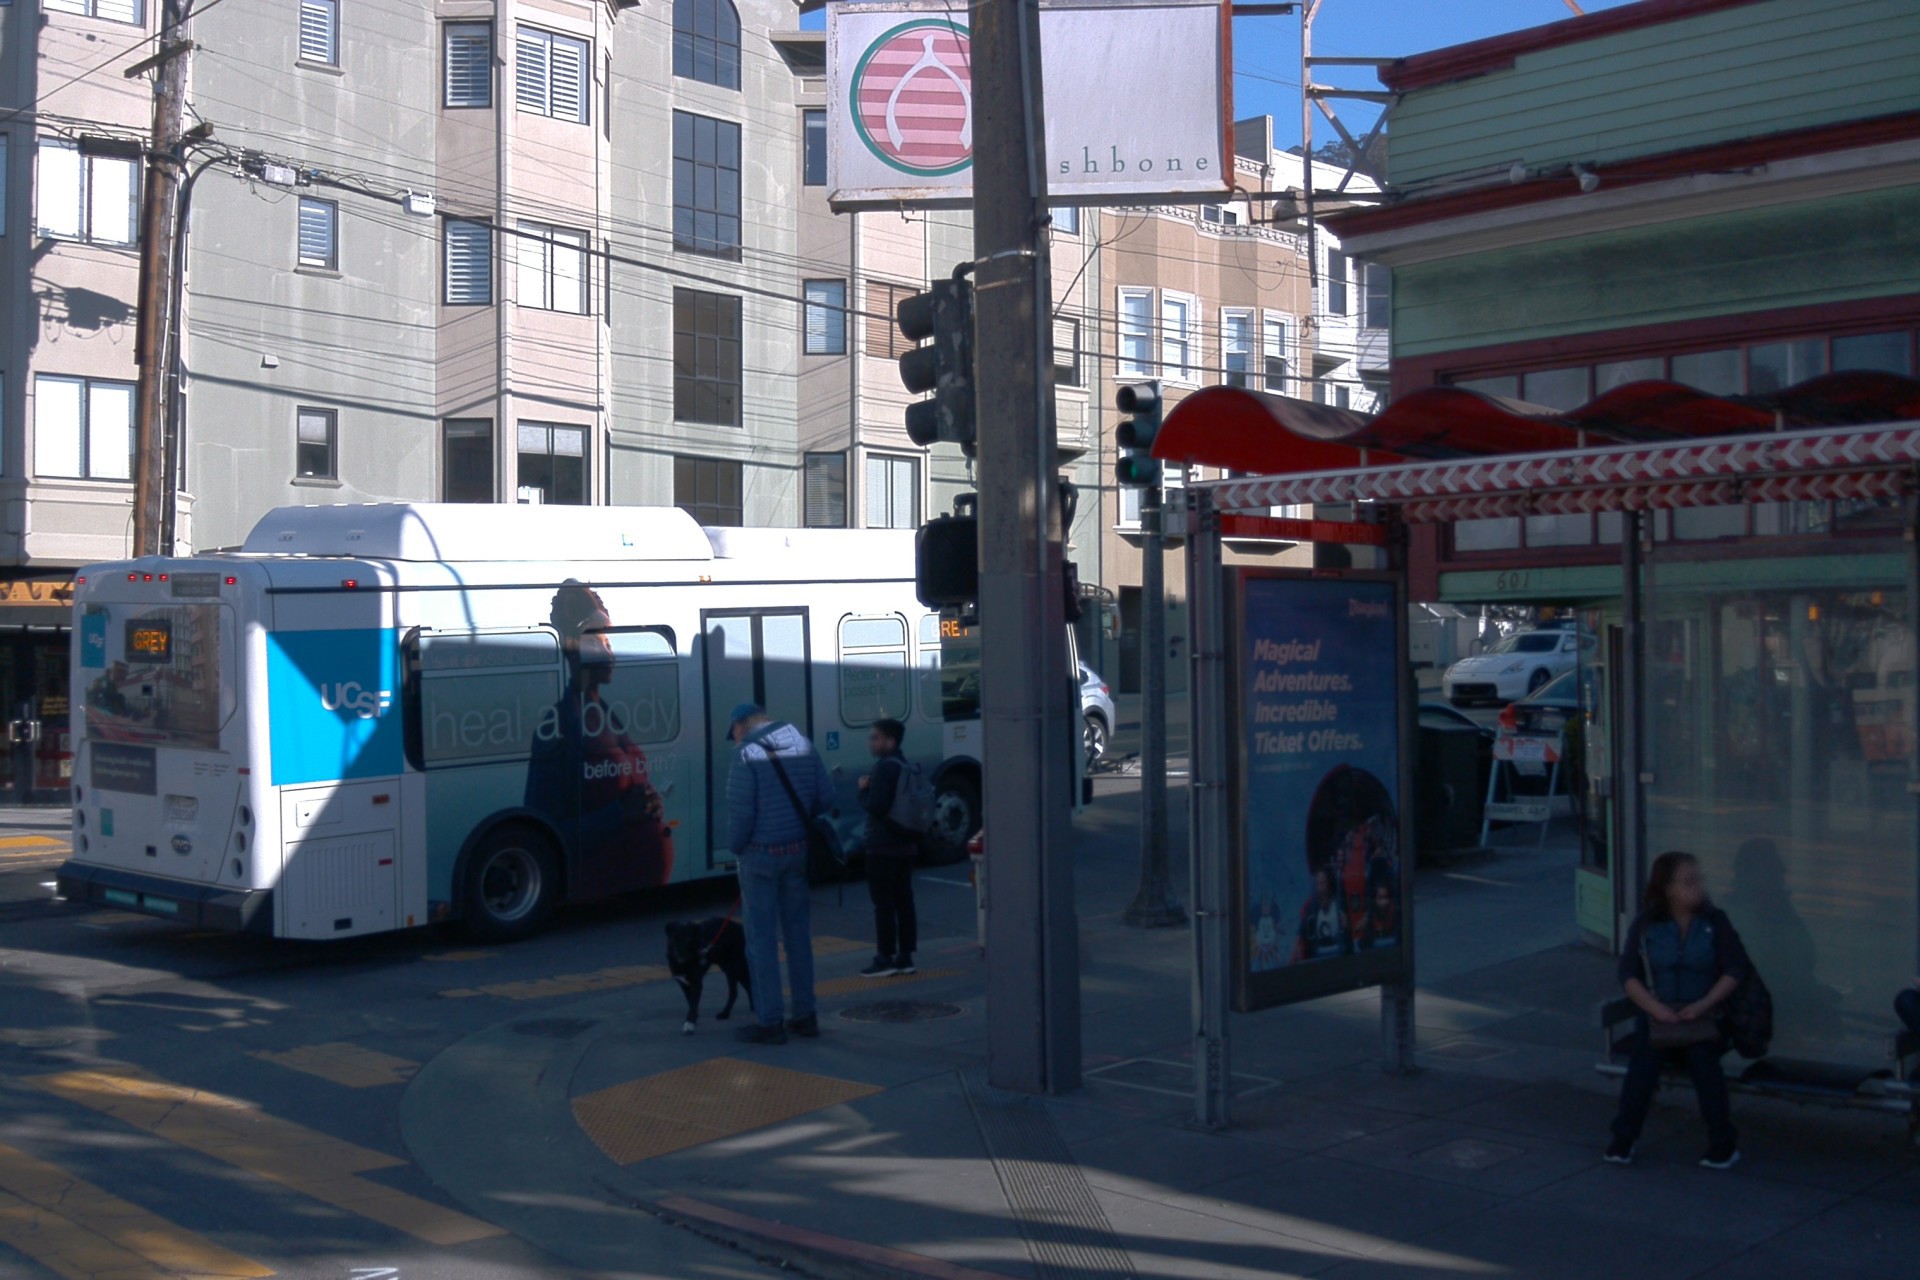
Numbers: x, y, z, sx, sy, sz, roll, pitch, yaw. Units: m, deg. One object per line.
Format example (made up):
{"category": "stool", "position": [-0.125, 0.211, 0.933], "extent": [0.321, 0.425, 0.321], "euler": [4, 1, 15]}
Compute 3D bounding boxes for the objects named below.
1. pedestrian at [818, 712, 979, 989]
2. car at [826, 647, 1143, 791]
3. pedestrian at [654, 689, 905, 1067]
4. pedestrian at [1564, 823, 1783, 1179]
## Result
{"category": "pedestrian", "position": [-0.402, 1.334, 13.617], "extent": [0.687, 1.700, 0.778], "euler": [0, 0, -43]}
{"category": "car", "position": [0.412, 0.995, 28.222], "extent": [1.930, 1.770, 4.447], "euler": [1, 0, 39]}
{"category": "pedestrian", "position": [-0.955, 1.198, 11.072], "extent": [0.955, 1.860, 0.894], "euler": [0, 0, -43]}
{"category": "pedestrian", "position": [2.889, 1.414, 8.455], "extent": [0.738, 1.260, 0.790], "euler": [1, 0, 26]}
